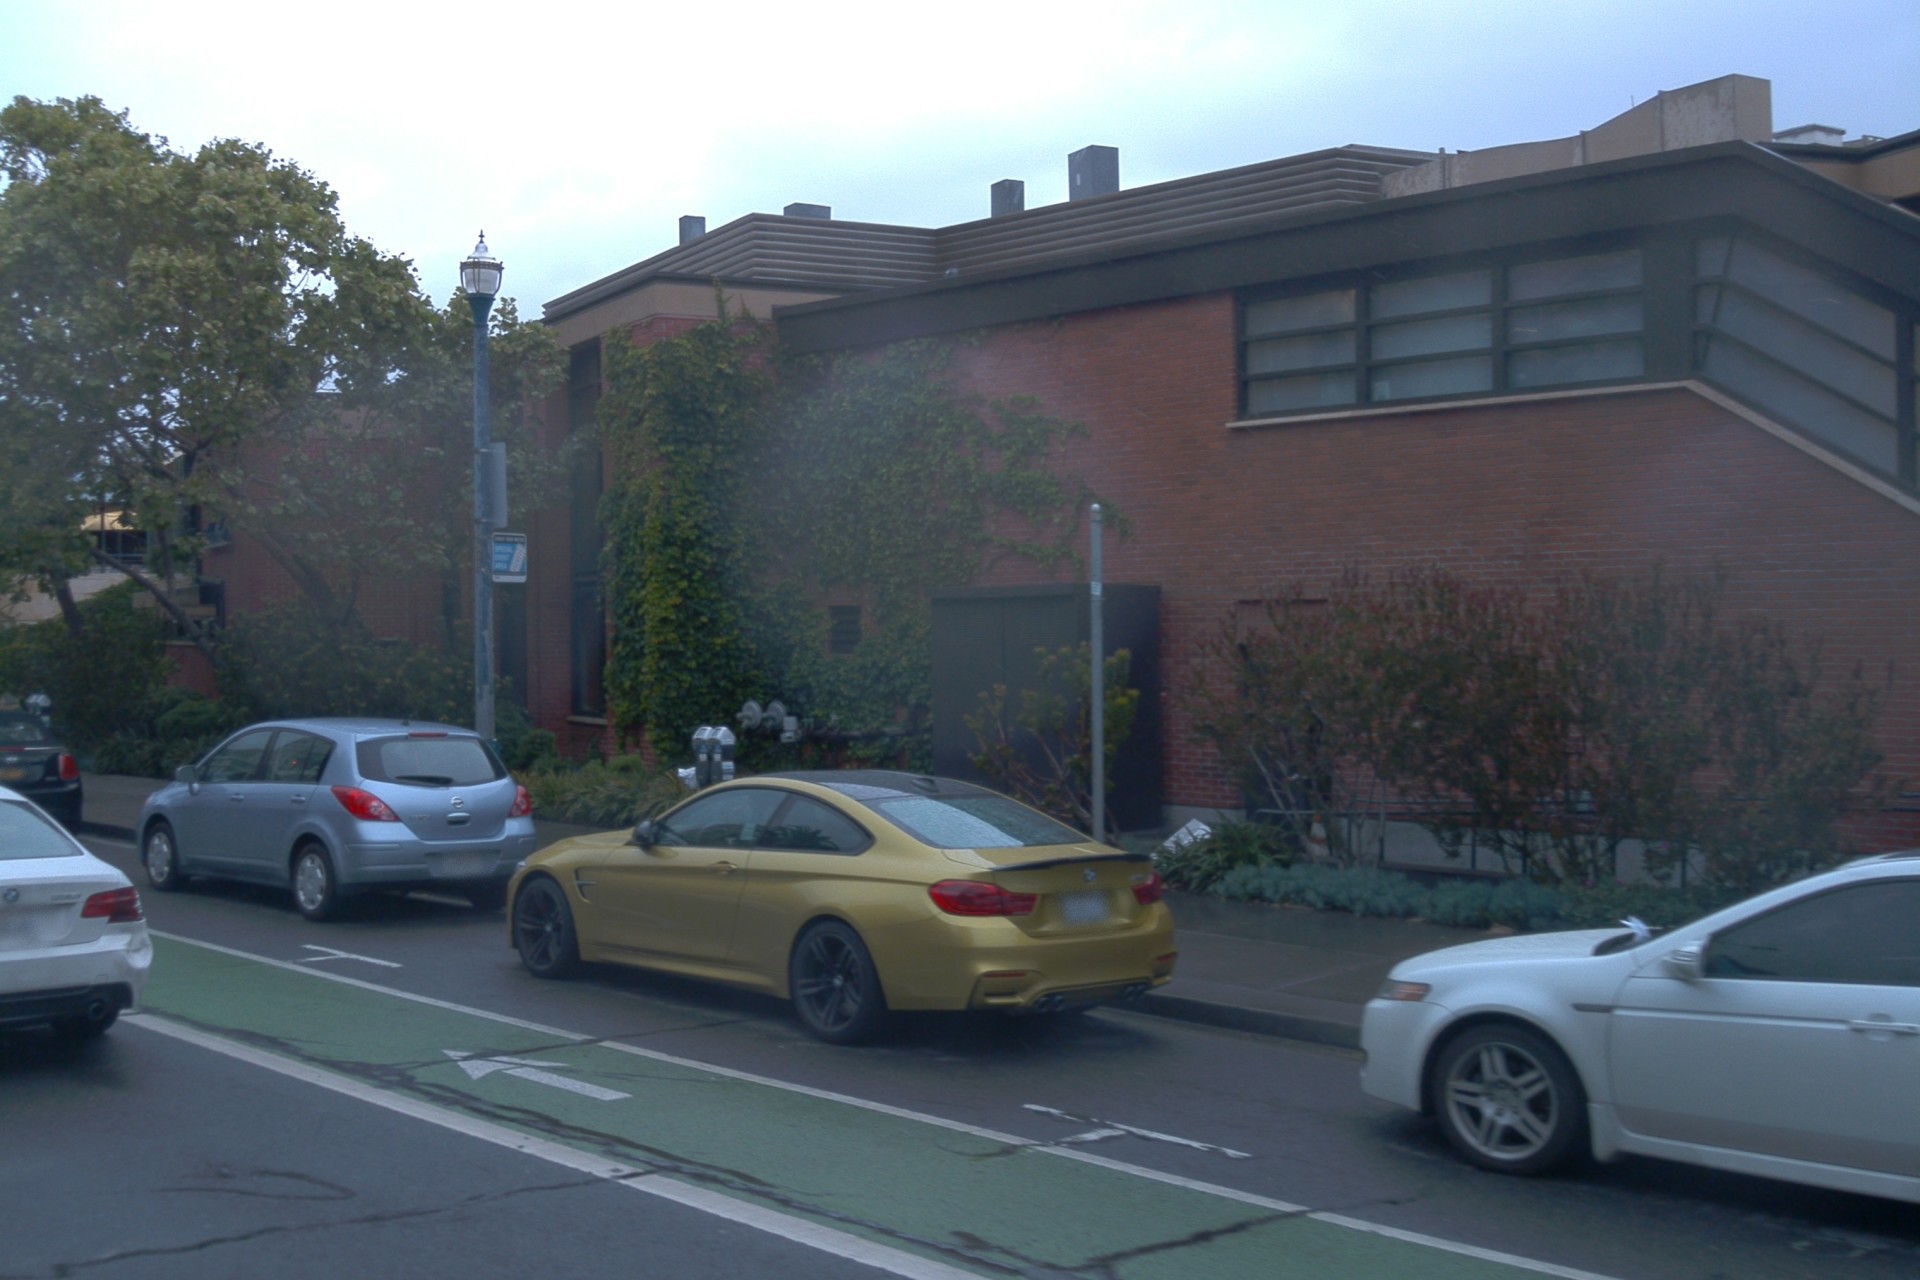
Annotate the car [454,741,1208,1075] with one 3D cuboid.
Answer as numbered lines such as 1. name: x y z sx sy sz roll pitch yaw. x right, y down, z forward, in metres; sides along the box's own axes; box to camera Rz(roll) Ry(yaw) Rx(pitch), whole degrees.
1. car: -0.976 1.435 12.593 2.006 1.430 4.758 1 -1 -43

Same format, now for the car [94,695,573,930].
1. car: -5.316 1.309 17.242 4.388 1.610 1.943 0 -1 45
